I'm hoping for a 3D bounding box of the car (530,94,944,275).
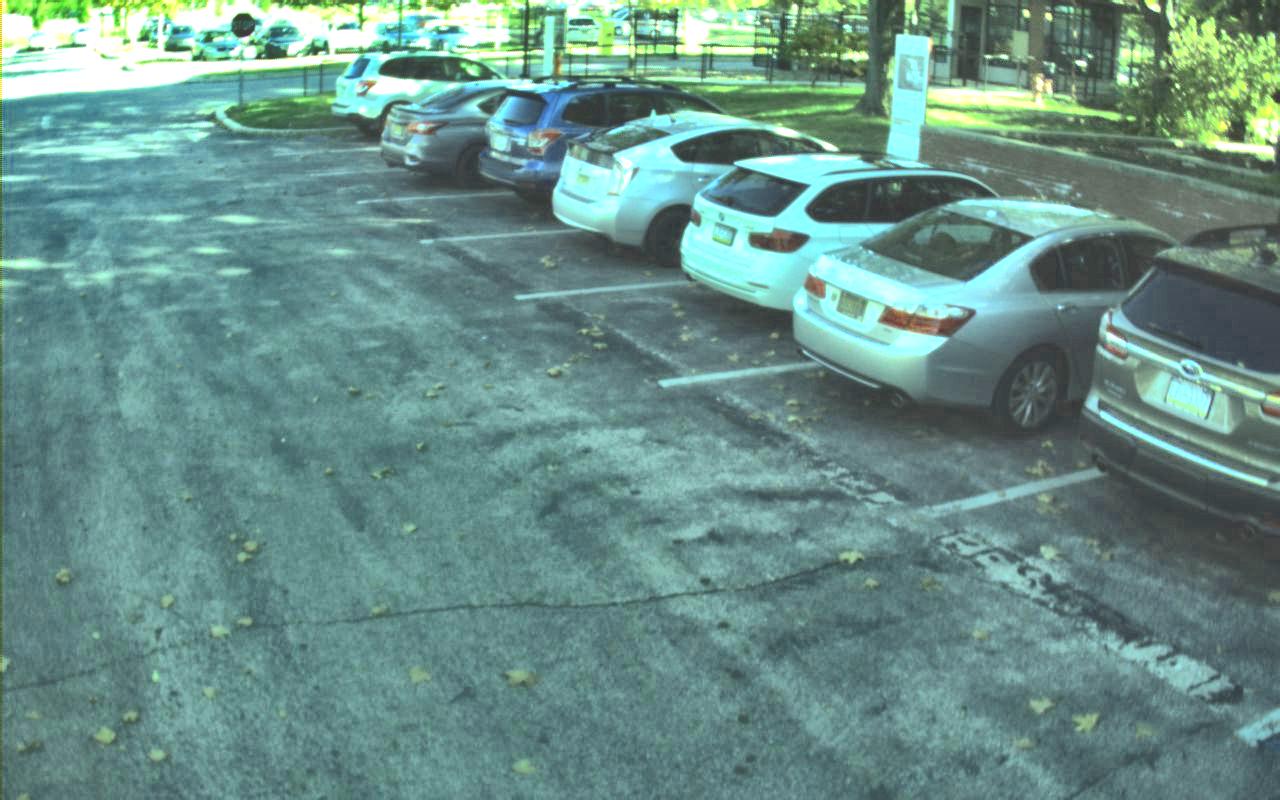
[{"bbox_3d":[1.142,-2.534,13.934,4.311,1.561,1.892,-9,18,-25],"label":"car"}]

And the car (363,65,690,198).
[{"bbox_3d":[-1.673,-4.045,18.264,4.444,1.560,1.939,-10,18,-27],"label":"car"}]

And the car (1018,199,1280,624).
[{"bbox_3d":[4.609,-0.232,6.949,4.423,1.644,1.956,-9,18,-24],"label":"car"}]

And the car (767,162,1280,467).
[{"bbox_3d":[3.327,-0.893,9.272,4.433,1.547,1.926,-9,18,-26],"label":"car"}]

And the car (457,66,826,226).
[{"bbox_3d":[0.061,-3.406,16.146,4.427,1.689,1.949,-10,18,-27],"label":"car"}]

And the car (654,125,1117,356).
[{"bbox_3d":[2.456,-1.682,11.661,4.290,1.558,1.897,-11,19,-29],"label":"car"}]

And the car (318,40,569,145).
[{"bbox_3d":[-3.807,-5.972,23.567,4.477,1.670,1.949,-10,19,-28],"label":"car"}]
